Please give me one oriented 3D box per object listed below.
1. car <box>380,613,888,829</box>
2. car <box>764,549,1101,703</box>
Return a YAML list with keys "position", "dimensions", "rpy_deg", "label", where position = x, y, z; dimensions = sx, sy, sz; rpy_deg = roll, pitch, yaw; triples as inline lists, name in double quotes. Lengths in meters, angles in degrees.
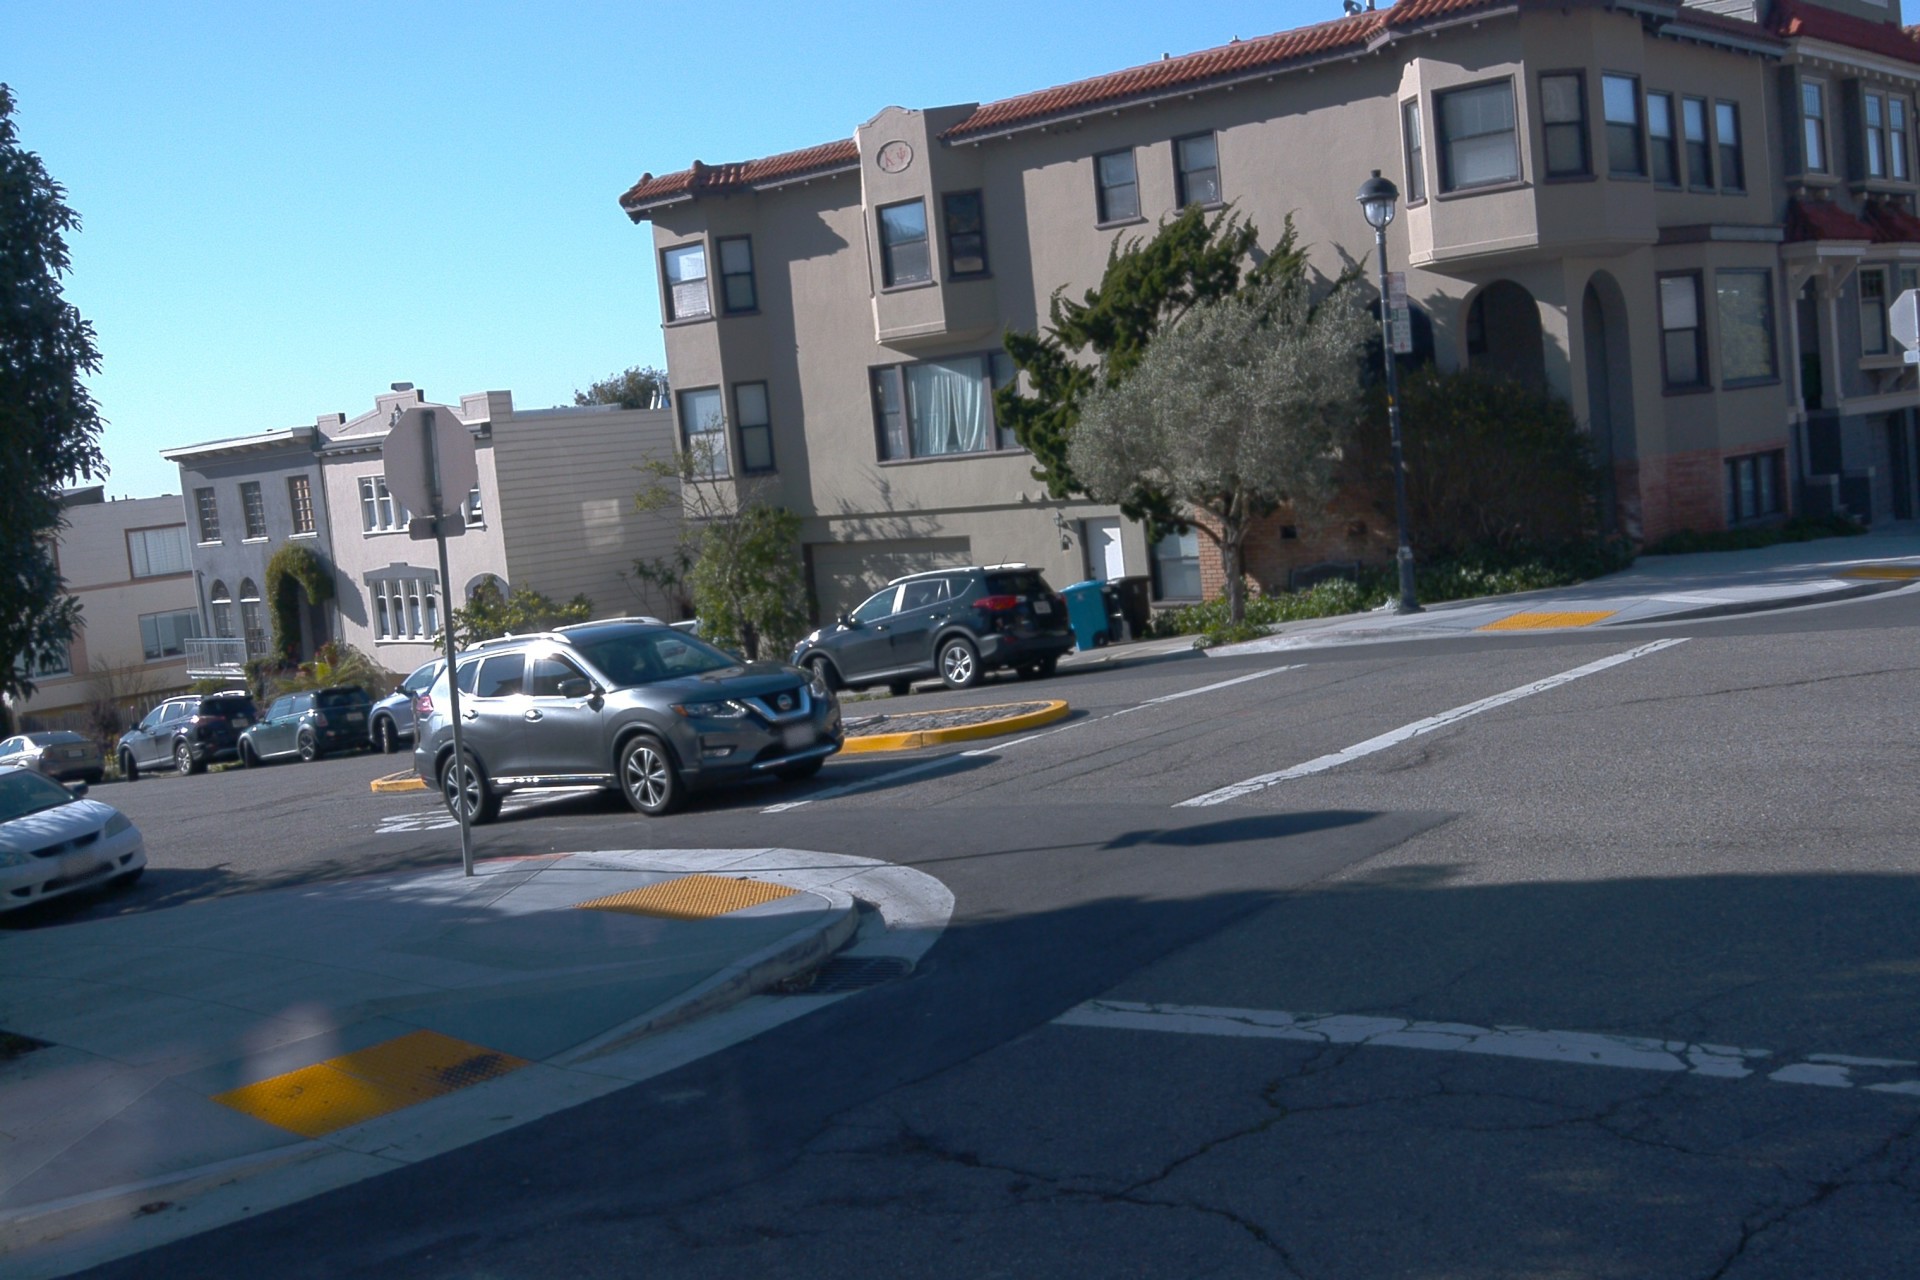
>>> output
- position: [-3.086, 0.652, 19.035]
  dimensions: [4.680, 1.740, 2.086]
  rpy_deg: [0, 0, 41]
  label: "car"
- position: [-0.454, -0.189, 29.619]
  dimensions: [4.526, 2.020, 2.204]
  rpy_deg: [0, 0, 43]
  label: "car"
